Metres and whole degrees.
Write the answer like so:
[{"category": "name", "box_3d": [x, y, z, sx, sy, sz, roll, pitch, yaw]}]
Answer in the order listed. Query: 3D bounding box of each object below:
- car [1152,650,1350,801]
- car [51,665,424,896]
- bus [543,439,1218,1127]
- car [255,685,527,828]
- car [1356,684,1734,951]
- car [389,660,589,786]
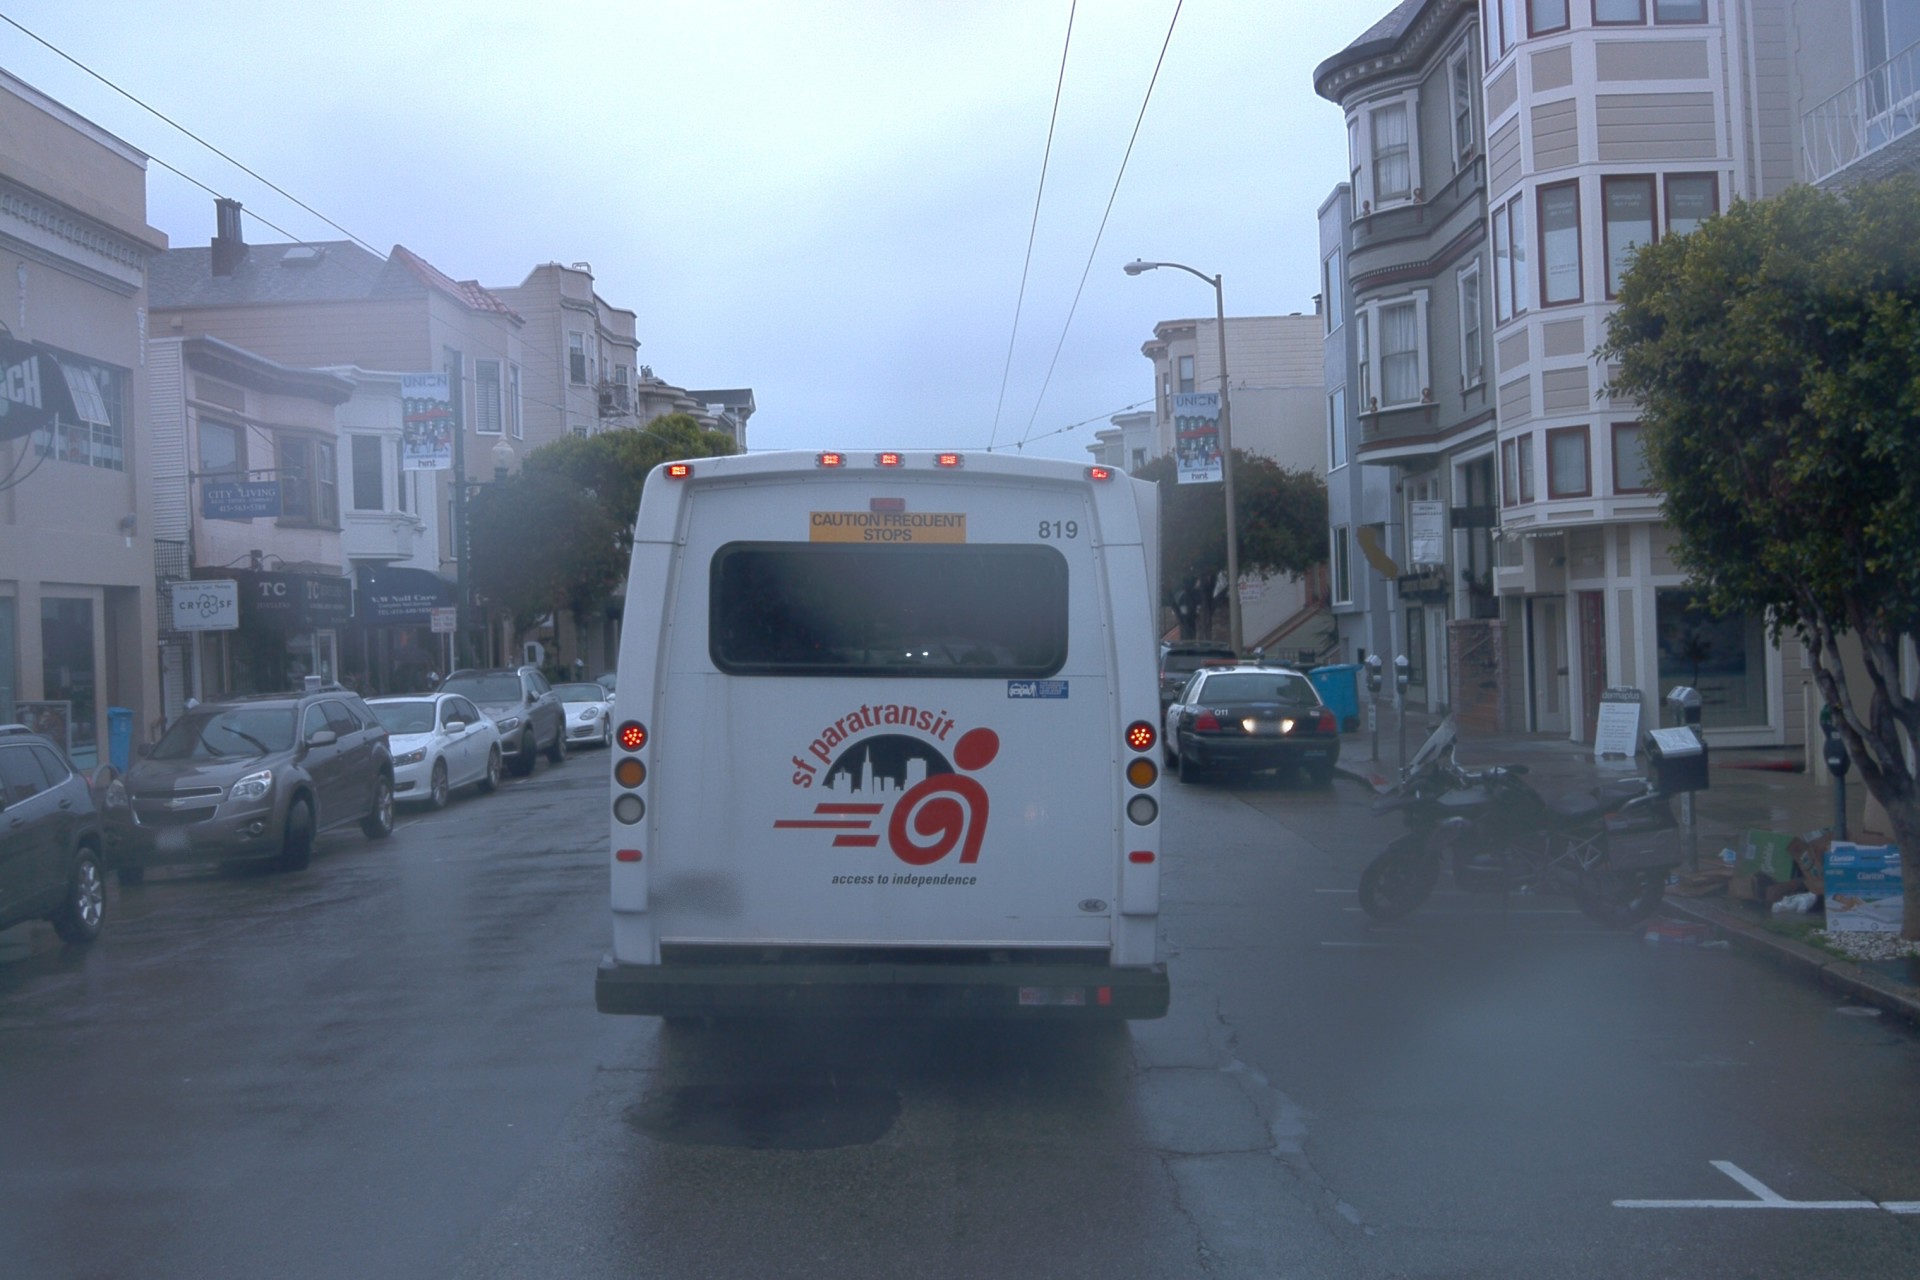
[{"category": "car", "box_3d": [3.706, 1.024, 27.205, 2.108, 1.690, 5.363, 1, 1, 3]}, {"category": "car", "box_3d": [-7.177, 1.299, 21.121, 2.065, 1.960, 4.992, 1, 1, 0]}, {"category": "bus", "box_3d": [-0.361, 0.563, 11.957, 2.787, 2.850, 6.706, 1, 1, 0]}, {"category": "car", "box_3d": [-7.457, 1.474, 27.609, 2.131, 1.540, 5.132, 1, 1, 1]}, {"category": "car", "box_3d": [3.910, 1.161, 13.992, 2.374, 1.650, 1.013, 1, 1, 12]}, {"category": "car", "box_3d": [-7.479, 1.270, 33.246, 2.149, 1.760, 4.917, 1, 1, -1]}]
